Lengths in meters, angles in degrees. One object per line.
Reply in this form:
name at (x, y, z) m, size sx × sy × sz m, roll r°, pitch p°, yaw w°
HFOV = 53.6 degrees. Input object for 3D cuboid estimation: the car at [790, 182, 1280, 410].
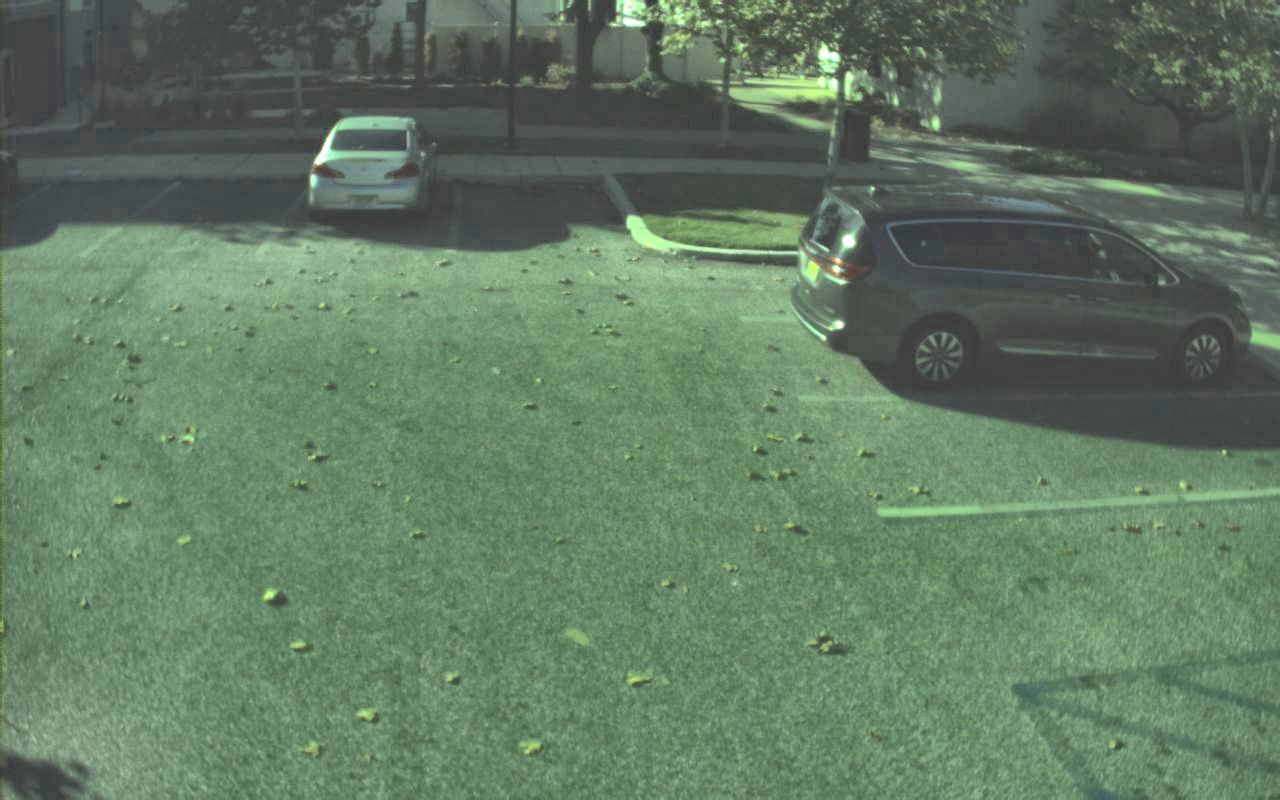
car at (4.123, -1.198, 12.244) m, size 4.930 × 1.779 × 2.070 m, roll -3°, pitch 16°, yaw -7°

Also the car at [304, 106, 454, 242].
car at (-3.906, -3.587, 18.954) m, size 1.889 × 1.537 × 4.336 m, roll -3°, pitch 17°, yaw -6°
